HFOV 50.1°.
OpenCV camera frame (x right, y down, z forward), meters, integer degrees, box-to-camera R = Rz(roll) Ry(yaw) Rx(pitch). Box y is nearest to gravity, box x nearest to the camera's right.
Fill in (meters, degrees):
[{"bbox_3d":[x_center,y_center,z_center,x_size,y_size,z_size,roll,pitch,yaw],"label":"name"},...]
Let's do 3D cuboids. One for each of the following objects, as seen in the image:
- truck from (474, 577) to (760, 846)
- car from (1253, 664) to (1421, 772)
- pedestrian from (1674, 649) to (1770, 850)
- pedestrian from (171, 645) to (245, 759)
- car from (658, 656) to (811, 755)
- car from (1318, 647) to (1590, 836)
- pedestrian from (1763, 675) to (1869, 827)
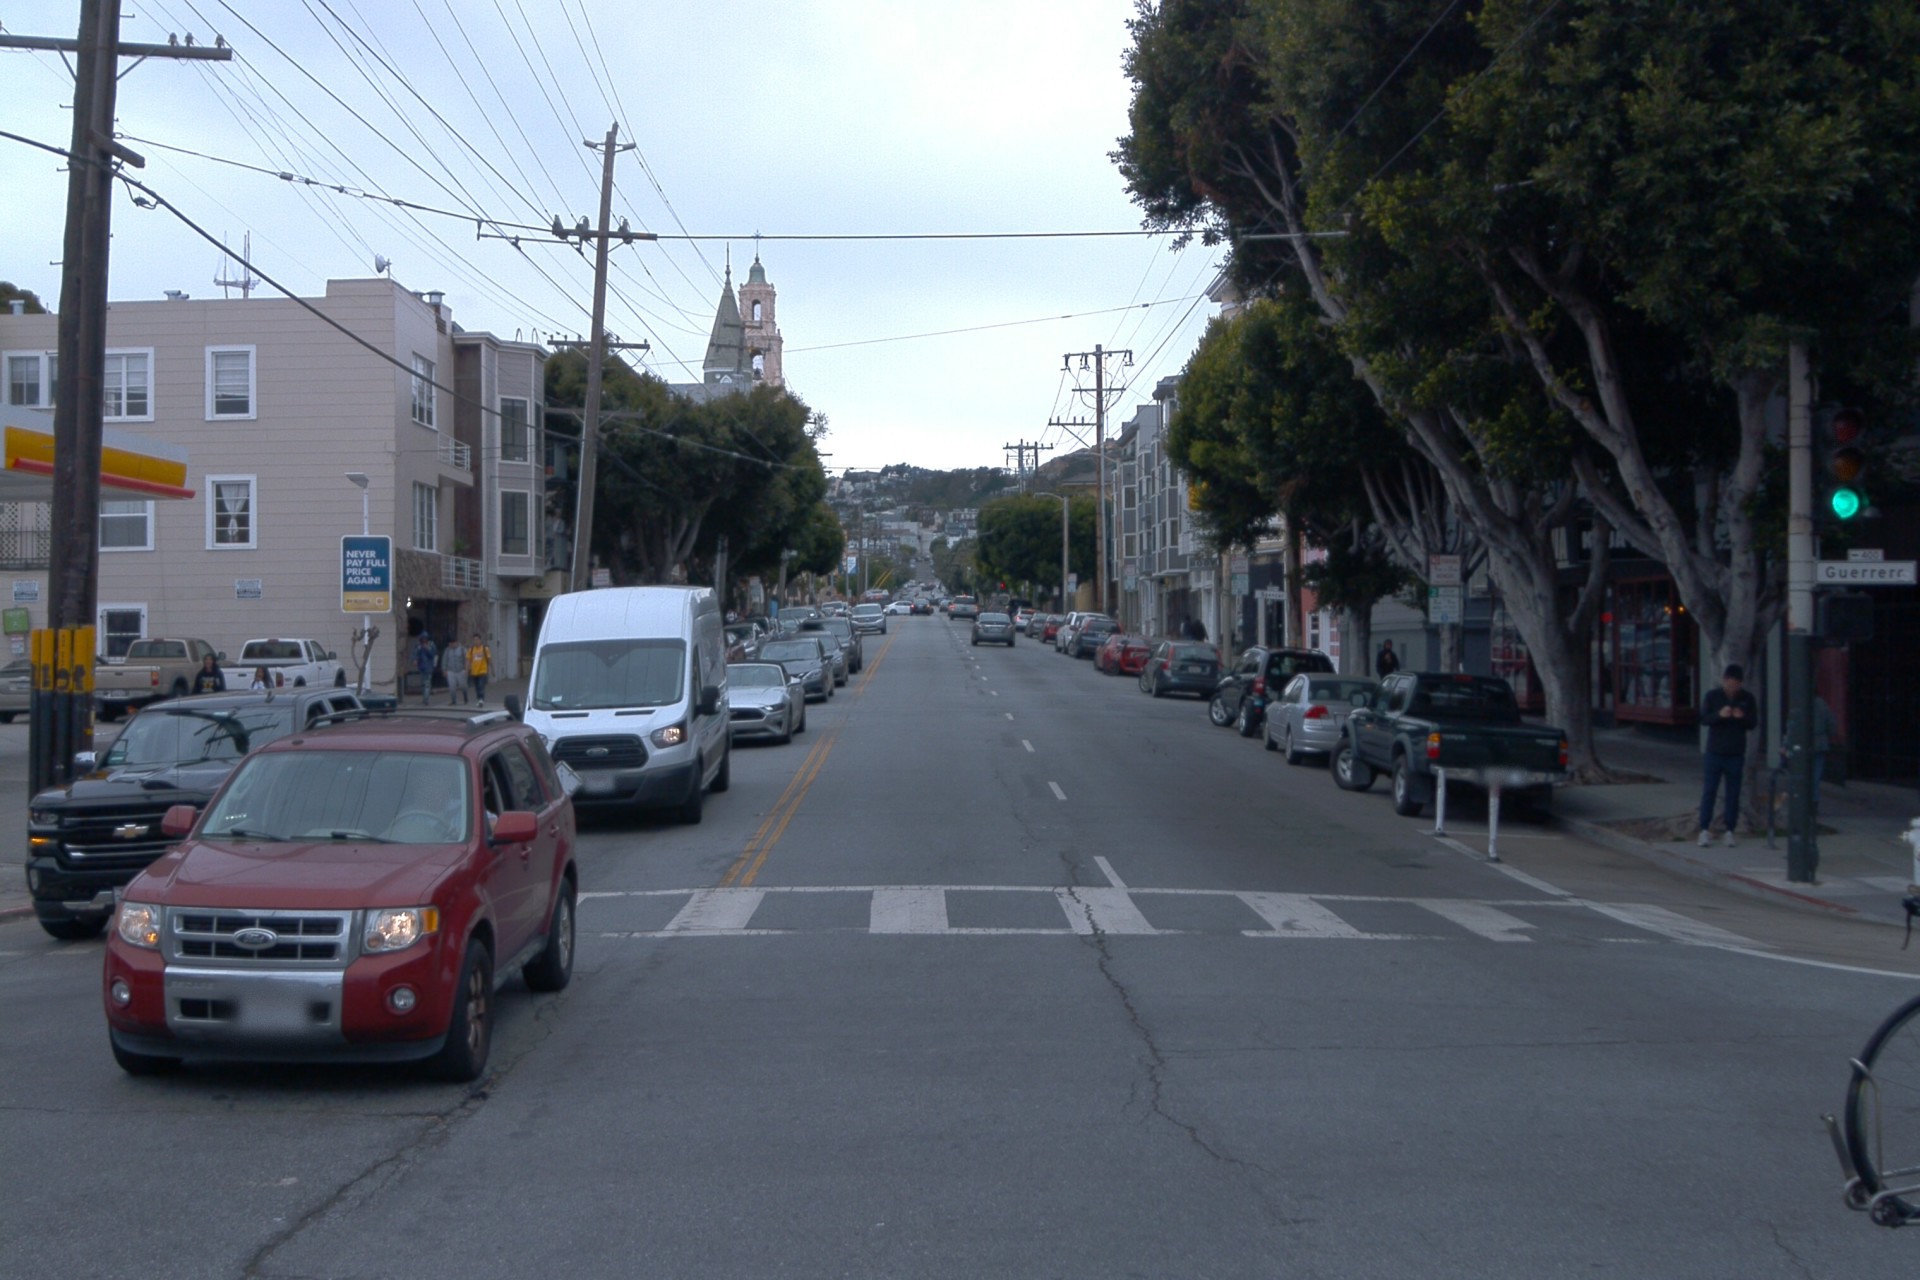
[{"bbox_3d":[-3.917,0.707,24.762,2.532,2.820,6.114,0,1,-1],"label":"truck"},{"bbox_3d":[6.025,1.207,33.350,1.898,1.500,4.511,0,1,0],"label":"car"},{"bbox_3d":[7.859,1.111,21.237,0.809,2.030,0.725,0,1,10],"label":"pedestrian"},{"bbox_3d":[-12.380,1.008,33.874,0.882,1.843,0.909,0,1,0],"label":"pedestrian"},{"bbox_3d":[-3.808,1.073,35.553,2.158,1.470,4.664,0,1,0],"label":"car"},{"bbox_3d":[6.131,1.176,26.226,2.094,2.060,5.275,0,1,-1],"label":"car"},{"bbox_3d":[9.751,1.252,23.463,0.926,1.670,0.894,0,1,9],"label":"pedestrian"}]
